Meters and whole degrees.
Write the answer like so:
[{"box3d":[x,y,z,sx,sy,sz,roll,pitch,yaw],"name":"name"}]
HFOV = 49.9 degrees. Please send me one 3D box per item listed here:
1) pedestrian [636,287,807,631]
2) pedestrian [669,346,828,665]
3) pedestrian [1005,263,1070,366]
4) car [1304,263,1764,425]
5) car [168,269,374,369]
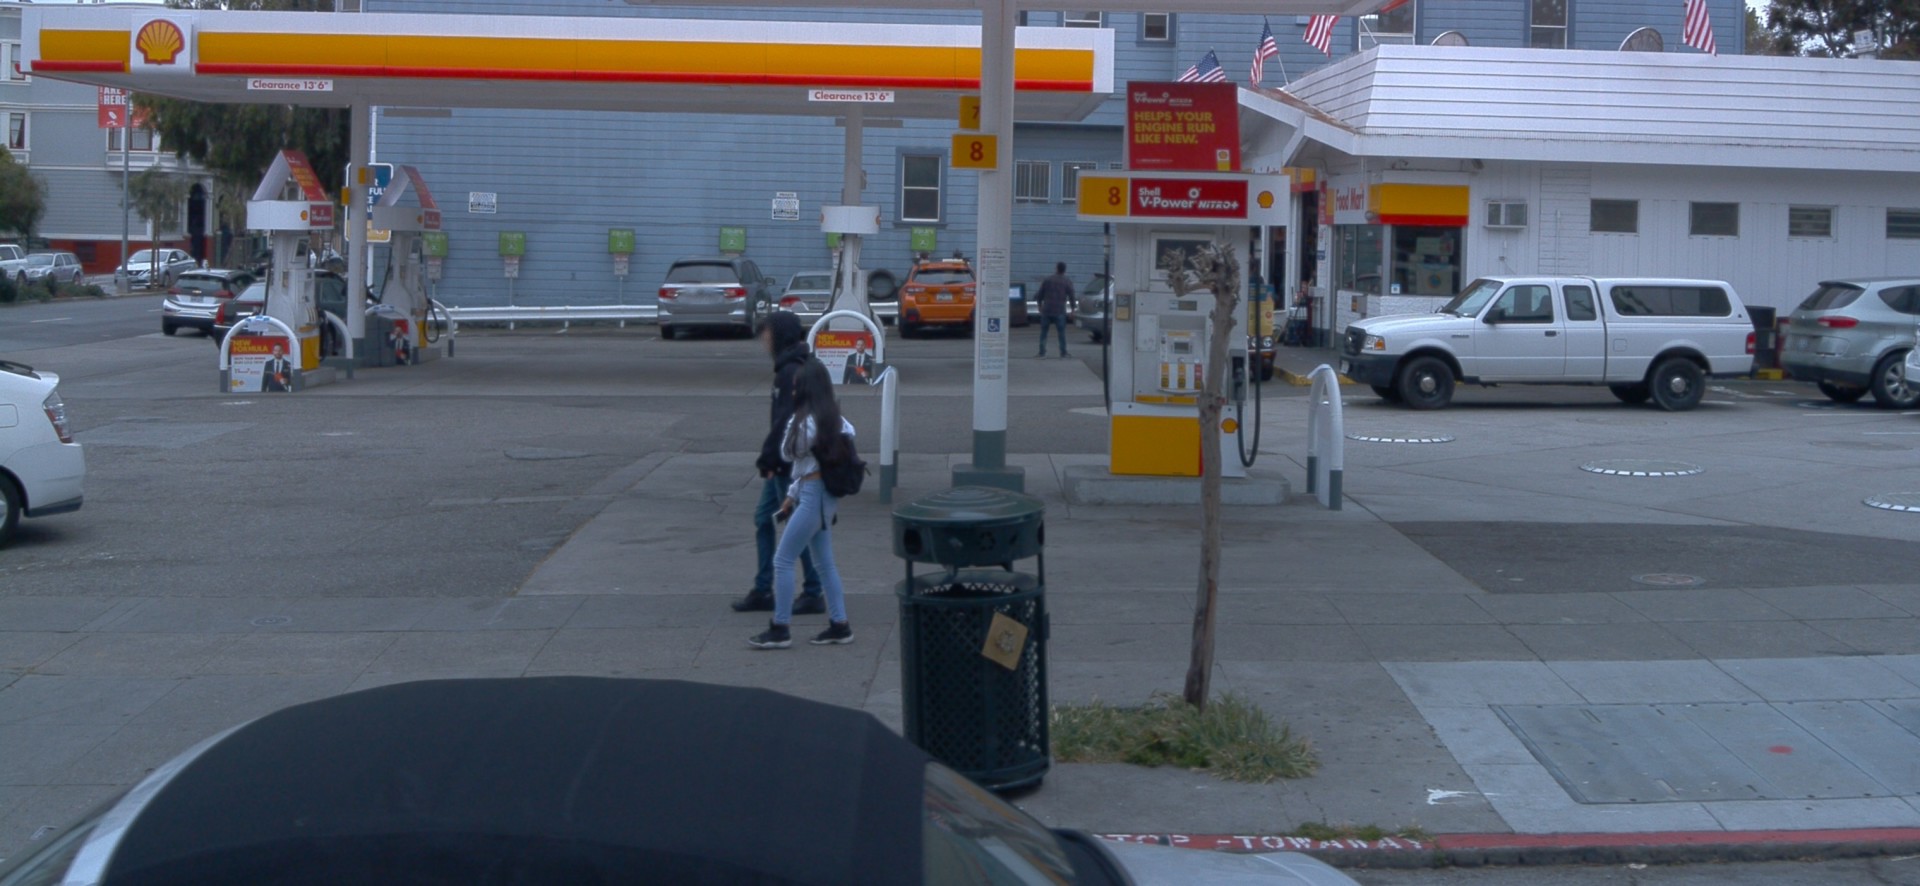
[{"box3d":[-1.337,0.053,11.729,0.910,1.840,0.884,0,2,-4],"name":"pedestrian"},{"box3d":[-1.138,0.305,11.014,0.791,1.587,0.647,-1,2,-10],"name":"pedestrian"},{"box3d":[1.348,-2.261,36.119,0.965,1.747,0.855,-1,2,-11],"name":"pedestrian"},{"box3d":[7.145,-1.297,26.030,5.180,1.834,2.197,-1,4,-4],"name":"car"},{"box3d":[-12.133,-2.258,36.634,1.977,1.511,4.539,0,6,2],"name":"car"}]
